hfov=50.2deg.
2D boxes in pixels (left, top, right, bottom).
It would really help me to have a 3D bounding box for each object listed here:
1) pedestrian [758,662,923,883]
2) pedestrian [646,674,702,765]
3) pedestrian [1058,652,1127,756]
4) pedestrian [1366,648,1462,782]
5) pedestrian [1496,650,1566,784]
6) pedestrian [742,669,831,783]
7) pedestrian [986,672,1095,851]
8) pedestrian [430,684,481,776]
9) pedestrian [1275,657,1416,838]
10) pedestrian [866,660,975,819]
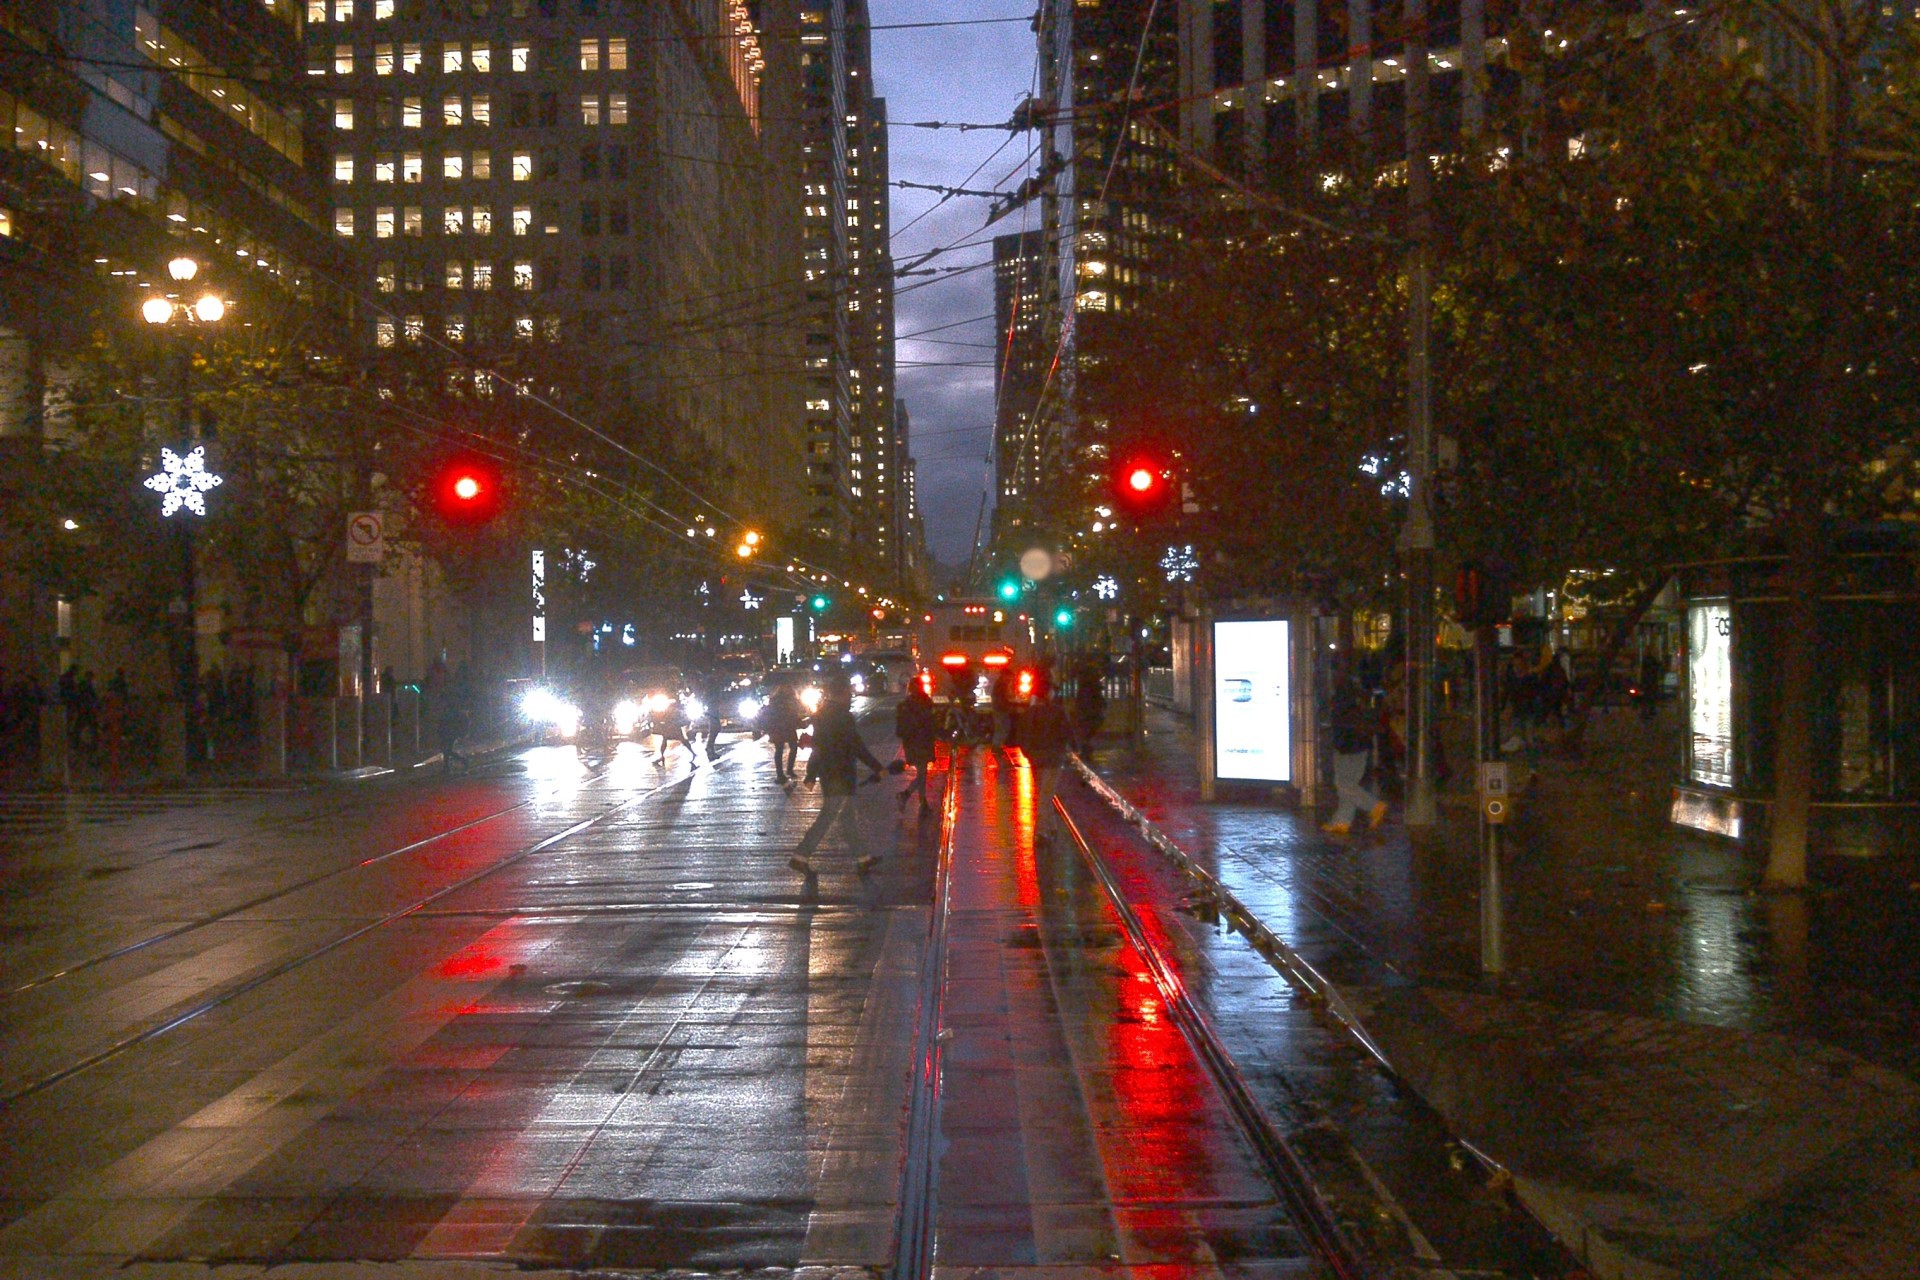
[{"bbox_3d":[-1.096,1.174,18.728,1.203,1.940,0.925,0,0,-34],"label":"pedestrian"},{"bbox_3d":[-5.236,1.447,37.455,1.000,1.630,0.740,0,0,-9],"label":"pedestrian"},{"bbox_3d":[2.417,1.160,37.416,1.019,1.860,0.870,0,0,-18],"label":"pedestrian"},{"bbox_3d":[6.426,1.035,28.990,0.970,1.850,0.909,0,0,-36],"label":"pedestrian"},{"bbox_3d":[7.867,1.039,28.258,0.868,1.800,1.151,0,0,12],"label":"pedestrian"},{"bbox_3d":[-2.699,1.319,31.823,1.006,1.710,1.062,0,0,-32],"label":"pedestrian"},{"bbox_3d":[0.867,1.265,21.762,0.809,1.830,1.106,0,0,24],"label":"pedestrian"},{"bbox_3d":[-9.079,1.607,36.860,0.877,1.630,0.702,0,0,-15],"label":"pedestrian"},{"bbox_3d":[3.952,1.071,20.979,1.177,1.780,0.853,0,0,35],"label":"pedestrian"},{"bbox_3d":[-0.479,1.194,25.116,0.781,1.890,1.219,0,0,33],"label":"pedestrian"}]
